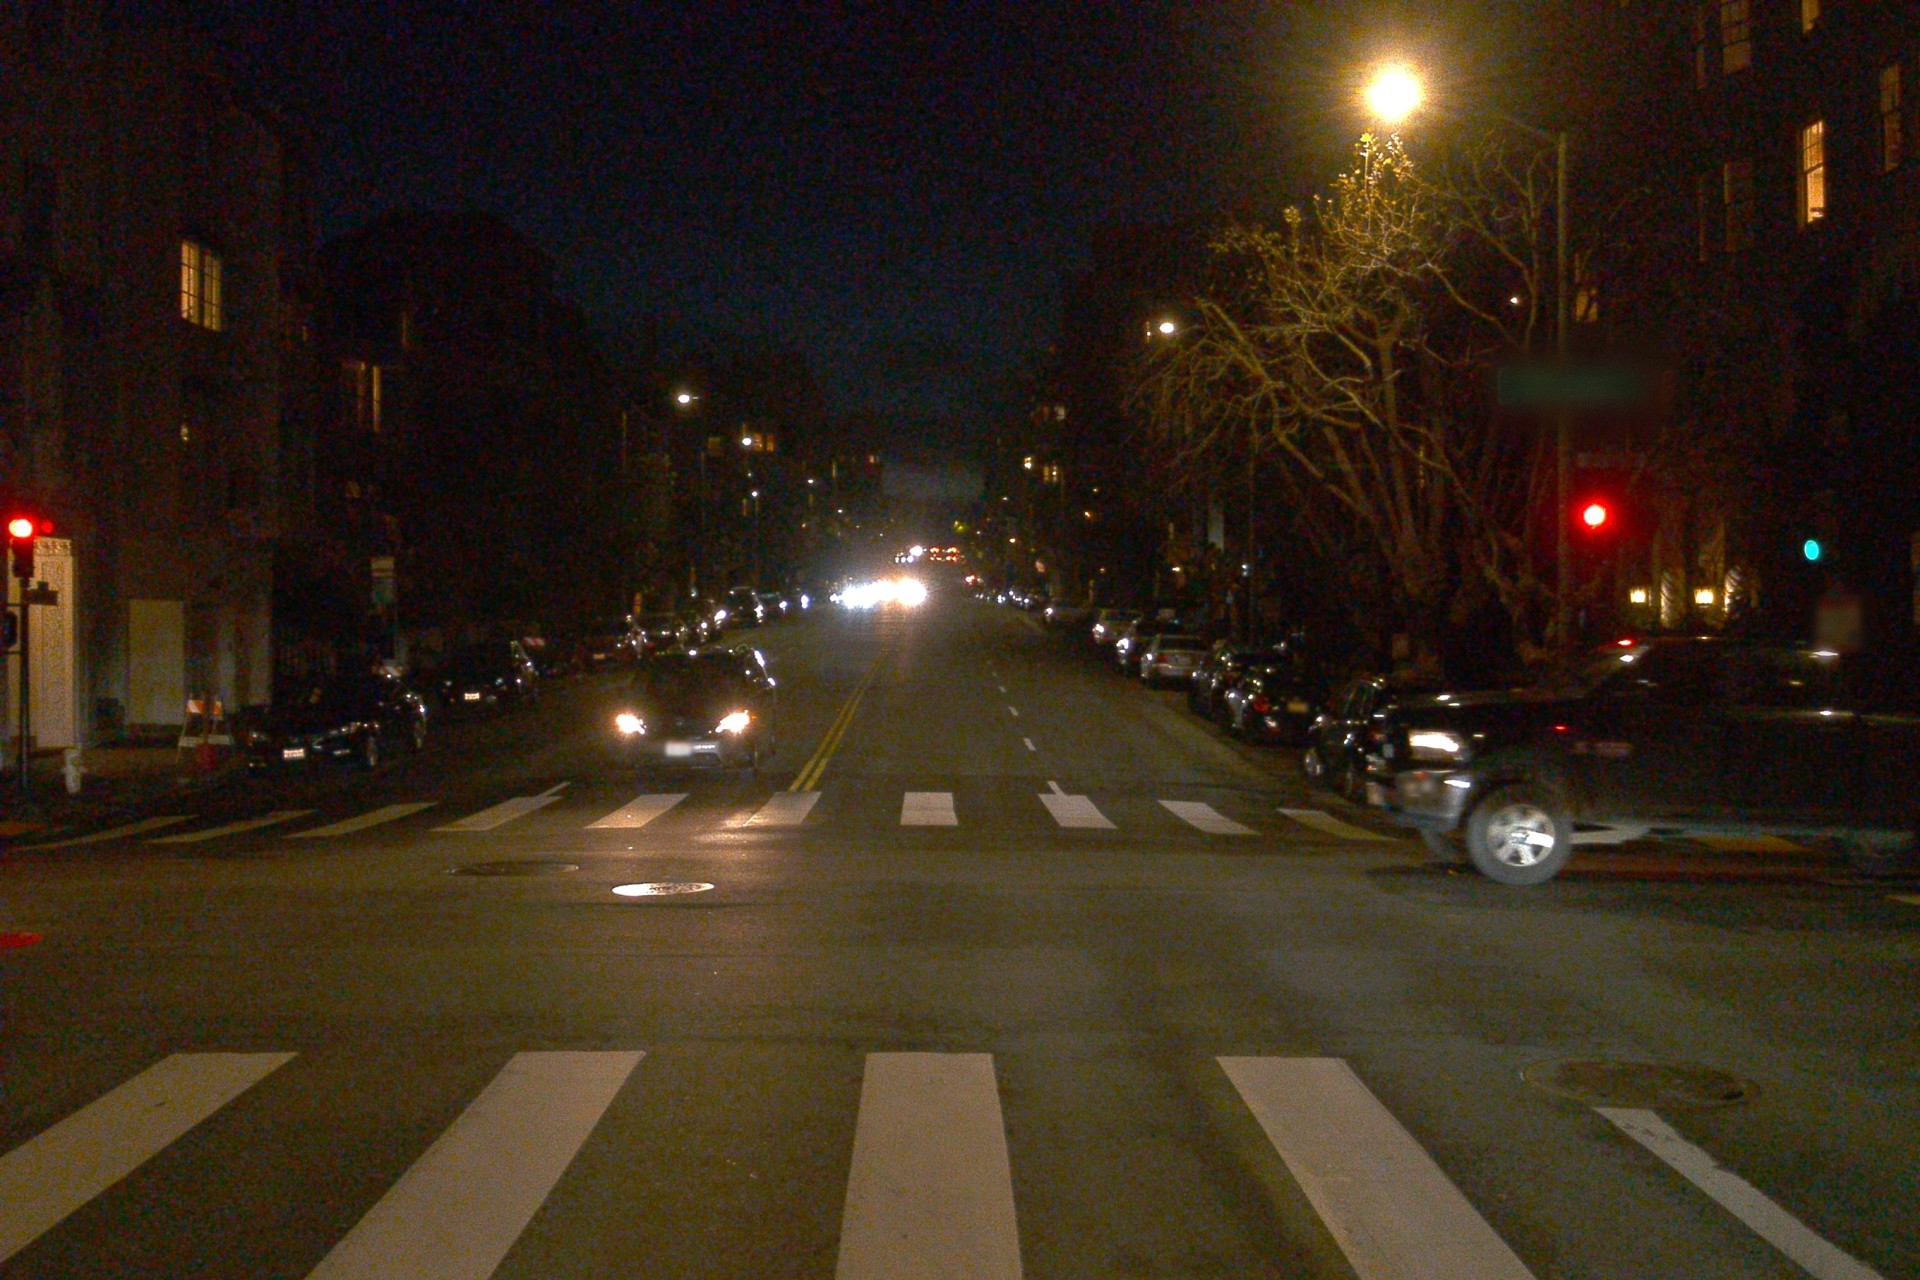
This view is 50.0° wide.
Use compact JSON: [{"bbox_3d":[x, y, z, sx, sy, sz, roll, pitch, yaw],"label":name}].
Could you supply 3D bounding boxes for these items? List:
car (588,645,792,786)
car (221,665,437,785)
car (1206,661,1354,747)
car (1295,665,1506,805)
[{"bbox_3d":[-3.807,1.012,29.923,2.293,1.803,4.677,1,0,0],"label":"car"},{"bbox_3d":[-10.054,1.306,33.211,2.045,1.673,4.519,1,0,0],"label":"car"},{"bbox_3d":[5.813,1.136,37.884,1.802,1.404,4.078,1,0,-4],"label":"car"},{"bbox_3d":[6.079,1.264,28.896,1.802,1.714,4.078,1,0,-4],"label":"car"}]
